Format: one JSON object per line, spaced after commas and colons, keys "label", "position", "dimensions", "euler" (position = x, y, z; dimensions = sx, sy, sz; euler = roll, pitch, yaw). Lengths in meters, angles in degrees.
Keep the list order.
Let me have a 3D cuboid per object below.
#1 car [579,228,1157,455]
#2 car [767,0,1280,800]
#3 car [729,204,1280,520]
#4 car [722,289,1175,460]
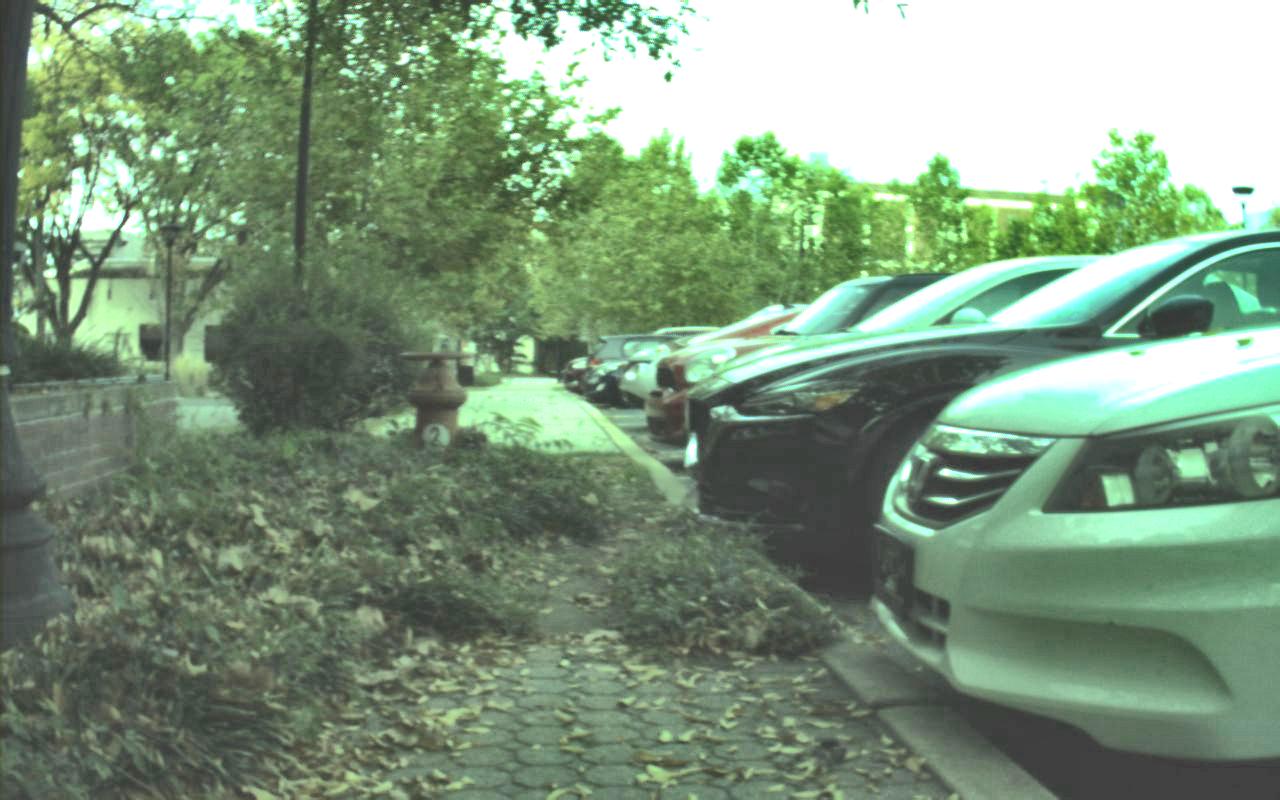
{"label": "car", "position": [1.824, -0.439, 10.292], "dimensions": [4.552, 1.633, 2.046], "euler": [0, 1, -6]}
{"label": "car", "position": [2.683, -0.033, 2.761], "dimensions": [4.499, 1.675, 2.036], "euler": [0, 1, -4]}
{"label": "car", "position": [2.794, -0.204, 7.491], "dimensions": [4.491, 1.661, 2.035], "euler": [1, 1, 3]}
{"label": "car", "position": [3.266, -0.256, 13.145], "dimensions": [4.622, 1.637, 1.977], "euler": [0, 1, -3]}
